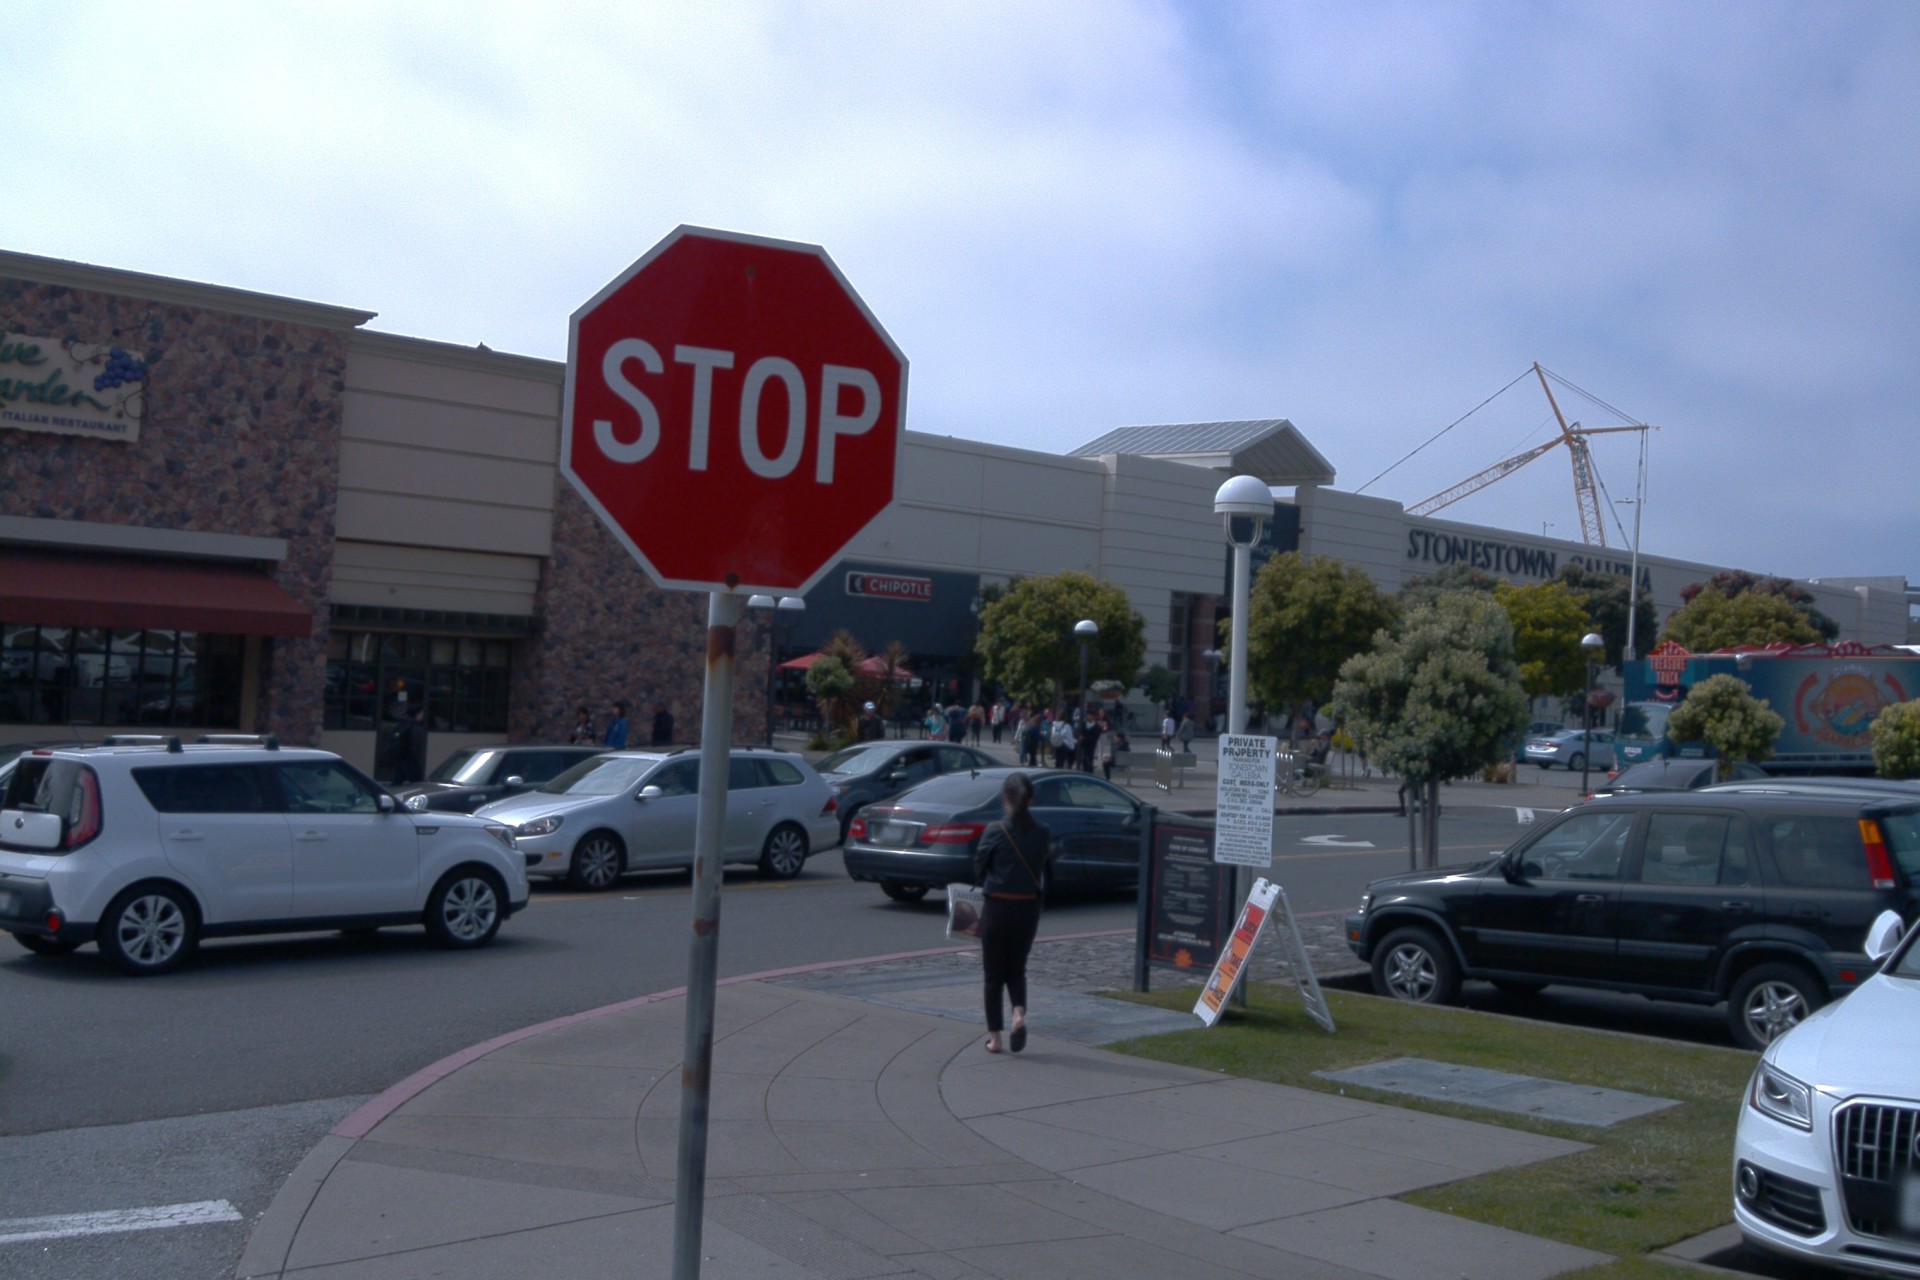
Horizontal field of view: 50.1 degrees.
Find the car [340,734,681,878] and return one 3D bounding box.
[{"bbox_3d":[-5.506,1.978,25.389,3.678,1.422,1.848,-1,1,-43],"label":"car"}]

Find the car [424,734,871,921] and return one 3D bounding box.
[{"bbox_3d":[-3.327,1.947,22.527,2.056,1.570,4.517,0,1,44],"label":"car"}]

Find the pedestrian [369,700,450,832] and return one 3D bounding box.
[{"bbox_3d":[-7.707,1.745,28.812,0.630,1.780,0.890,0,0,44],"label":"pedestrian"}]

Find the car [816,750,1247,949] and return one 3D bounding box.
[{"bbox_3d":[0.838,2.043,21.173,1.963,1.530,4.466,0,1,43],"label":"car"}]

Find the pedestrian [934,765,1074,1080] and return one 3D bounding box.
[{"bbox_3d":[0.226,1.489,11.051,0.629,1.570,0.740,0,0,-8],"label":"pedestrian"}]

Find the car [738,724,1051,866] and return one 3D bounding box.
[{"bbox_3d":[-0.861,2.146,29.497,1.938,1.640,4.407,0,1,43],"label":"car"}]
